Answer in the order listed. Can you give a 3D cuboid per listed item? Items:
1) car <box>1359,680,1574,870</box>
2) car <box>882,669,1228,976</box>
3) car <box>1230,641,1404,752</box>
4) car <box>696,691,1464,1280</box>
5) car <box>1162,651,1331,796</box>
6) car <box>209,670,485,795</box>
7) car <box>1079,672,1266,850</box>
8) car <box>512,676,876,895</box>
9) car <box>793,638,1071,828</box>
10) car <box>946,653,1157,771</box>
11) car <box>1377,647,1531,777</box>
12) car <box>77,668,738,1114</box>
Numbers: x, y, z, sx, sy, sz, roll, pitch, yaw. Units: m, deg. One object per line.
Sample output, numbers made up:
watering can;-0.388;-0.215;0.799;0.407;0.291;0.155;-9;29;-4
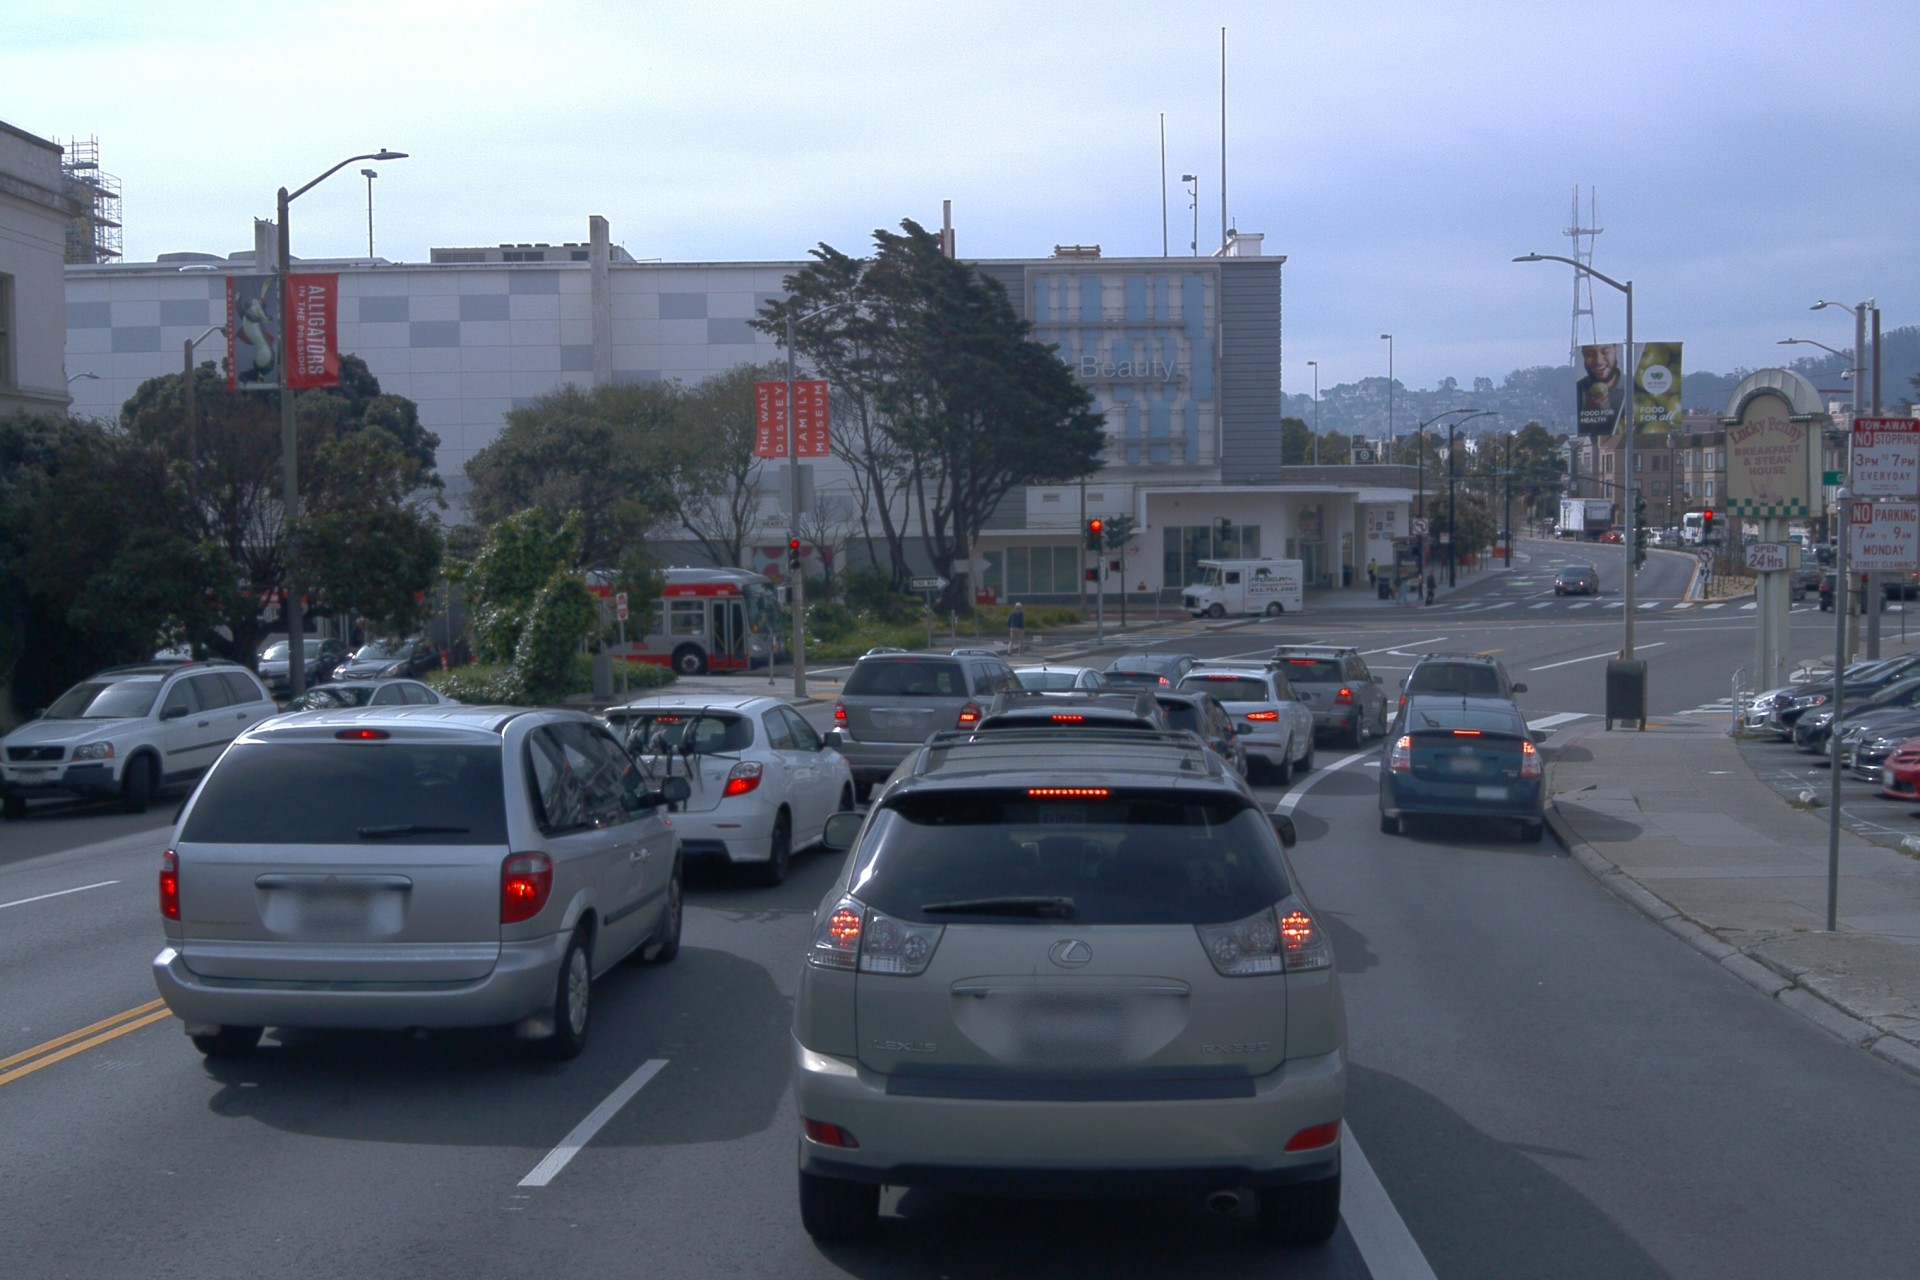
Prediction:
car;5.627;1.414;23.175;2.113;1.790;4.645;1;0;12
car;0.888;1.203;15.459;2.119;1.870;4.391;1;0;9
car;6.641;0.955;37.539;2.226;1.850;5.307;1;0;20
car;0.408;1.169;8.135;2.197;1.780;4.467;1;0;2
car;4.166;1.116;29.236;1.795;1.880;4.044;1;0;17
car;-9.230;1.337;31.231;1.977;1.640;4.663;1;0;13
car;2.539;1.310;23.697;1.526;1.780;3.939;1;0;15
car;-2.125;1.139;17.680;1.982;1.530;4.306;1;0;9
car;-0.210;1.041;25.536;2.236;2.100;4.827;1;0;15
car;1.558;1.078;32.731;2.220;1.670;4.643;1;0;18
car;8.551;1.149;35.078;2.203;2.020;4.801;1;0;18
car;-2.684;1.124;11.269;2.131;1.830;4.635;1;0;4
